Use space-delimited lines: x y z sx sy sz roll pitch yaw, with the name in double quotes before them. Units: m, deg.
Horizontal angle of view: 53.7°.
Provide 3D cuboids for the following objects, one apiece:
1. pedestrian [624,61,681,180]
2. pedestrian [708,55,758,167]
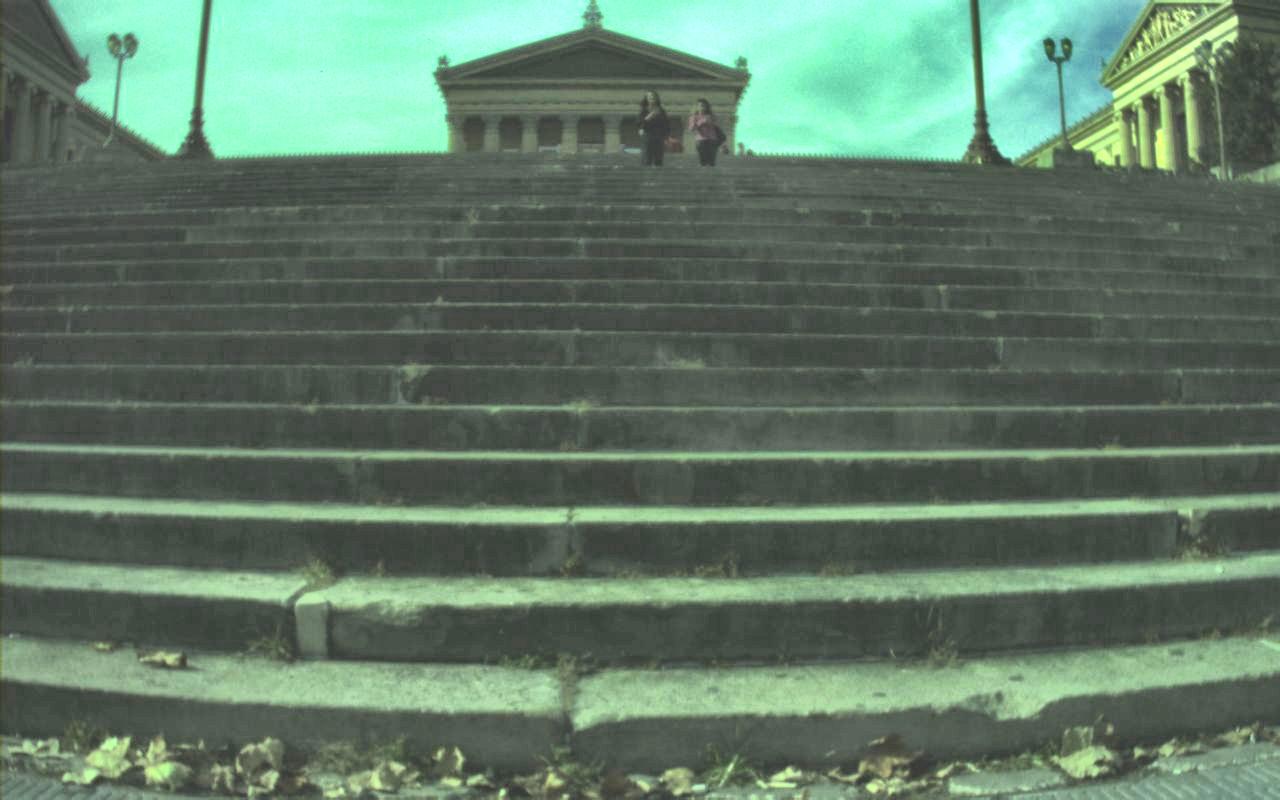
"pedestrian" 0.210 -4.469 19.991 0.655 1.811 0.667 1 0 31
"pedestrian" 1.517 -4.700 20.252 0.696 1.733 0.692 0 0 14
